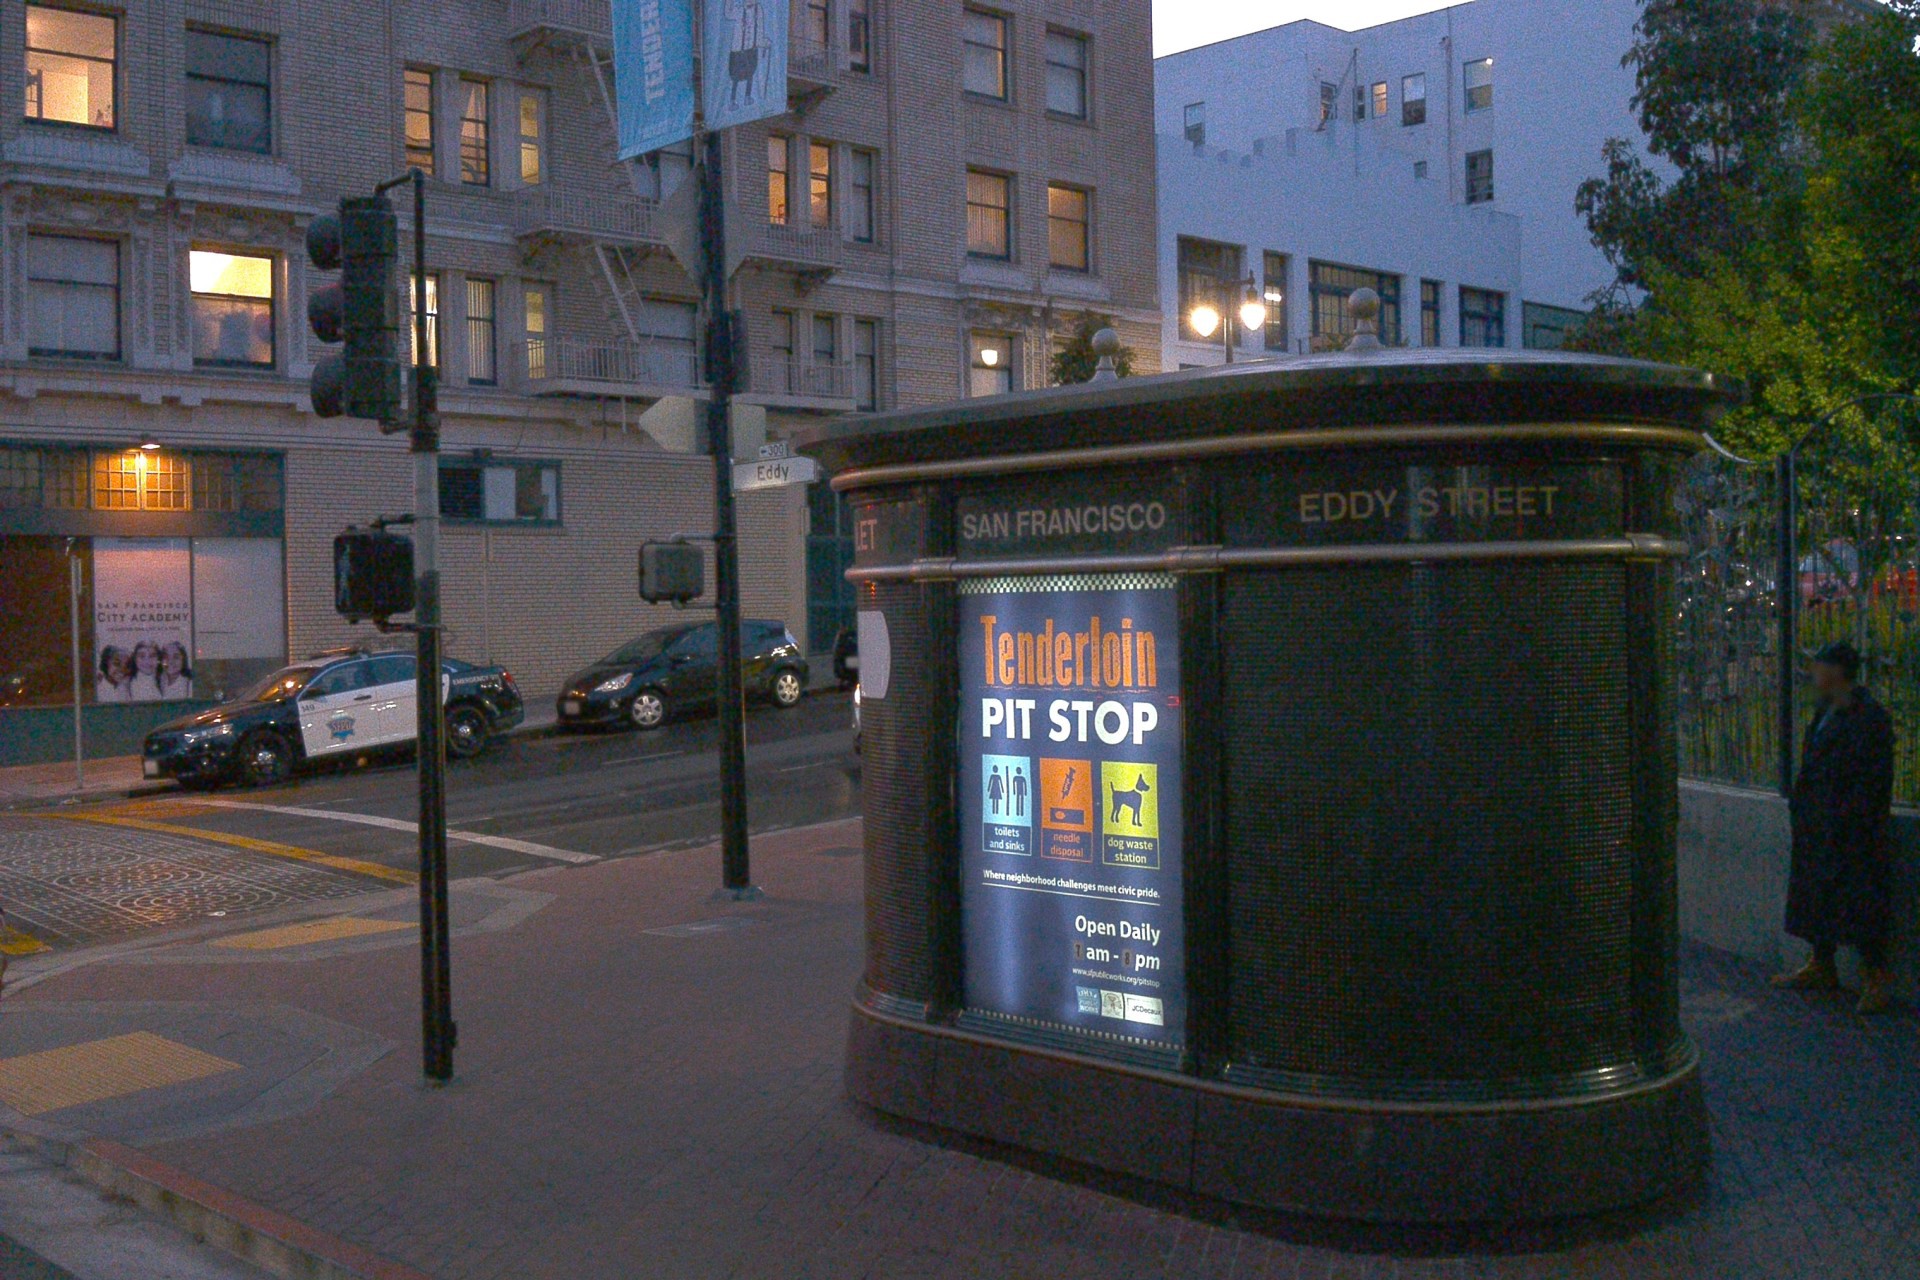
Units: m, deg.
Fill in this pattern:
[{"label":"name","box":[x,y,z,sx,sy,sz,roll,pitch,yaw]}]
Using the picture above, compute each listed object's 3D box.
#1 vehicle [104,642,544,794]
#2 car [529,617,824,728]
[{"label":"vehicle","box":[-8.186,0.924,26.963,2.095,1.750,5.105,1,1,44]},{"label":"car","box":[-4.200,0.433,30.938,3.987,1.540,1.958,-1,1,-44]}]
